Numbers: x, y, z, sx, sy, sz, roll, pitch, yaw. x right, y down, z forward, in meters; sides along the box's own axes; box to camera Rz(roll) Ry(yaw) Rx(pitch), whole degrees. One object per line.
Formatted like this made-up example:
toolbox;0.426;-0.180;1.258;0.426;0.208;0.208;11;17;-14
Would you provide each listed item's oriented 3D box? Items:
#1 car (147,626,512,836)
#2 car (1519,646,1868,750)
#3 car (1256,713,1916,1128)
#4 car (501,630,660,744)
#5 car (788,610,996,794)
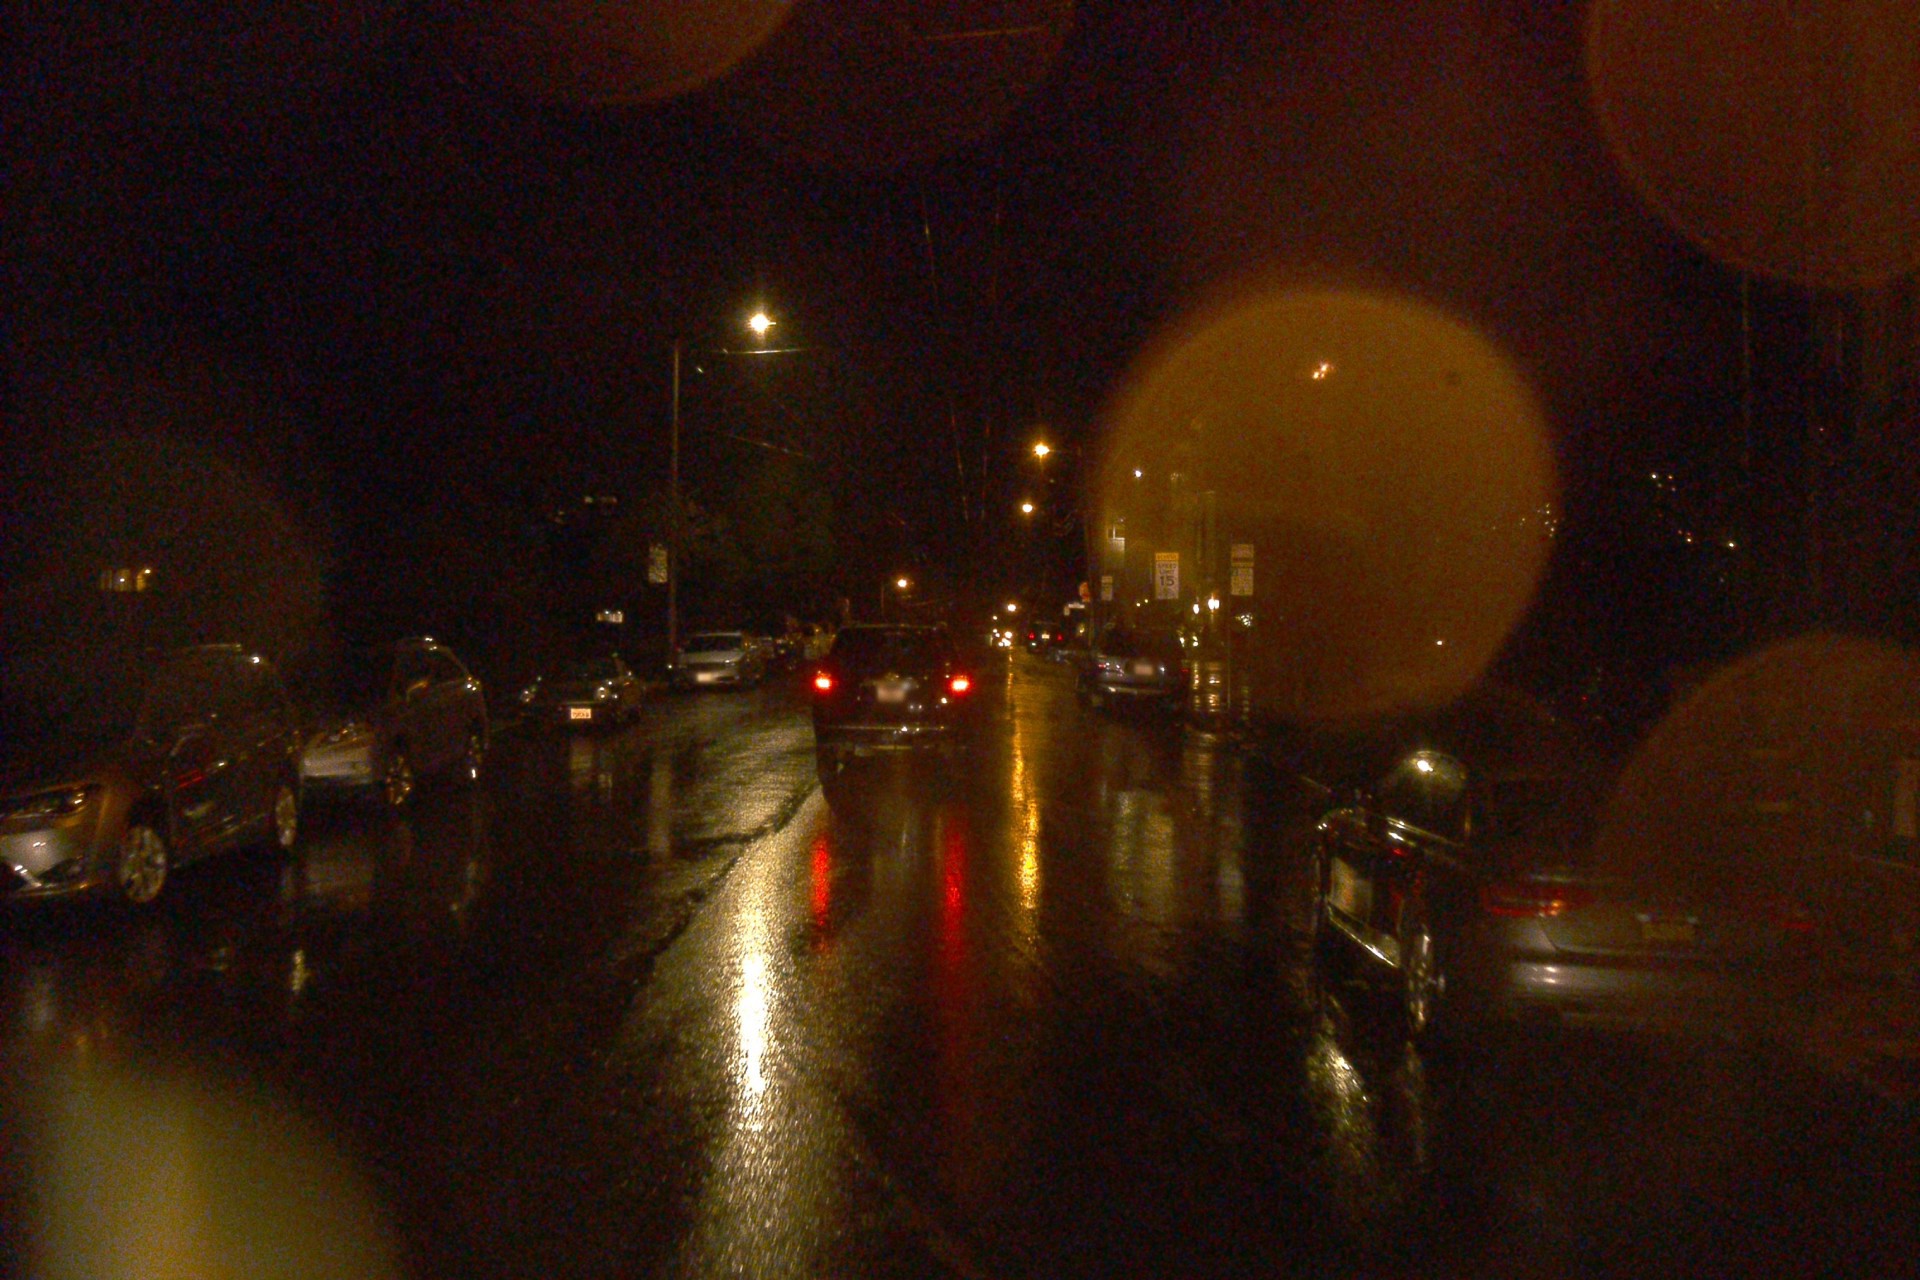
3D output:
car;-6.287;0.814;21.177;2.172;1.830;4.744;1;1;2
car;10.961;0.850;30.979;4.507;1.400;2.059;1;1;1
car;3.114;1.328;11.516;2.073;1.540;4.921;1;1;-1
car;-6.254;0.725;34.342;1.837;1.710;4.399;1;1;0
car;-0.728;0.664;25.643;2.267;2.040;4.792;1;1;2
